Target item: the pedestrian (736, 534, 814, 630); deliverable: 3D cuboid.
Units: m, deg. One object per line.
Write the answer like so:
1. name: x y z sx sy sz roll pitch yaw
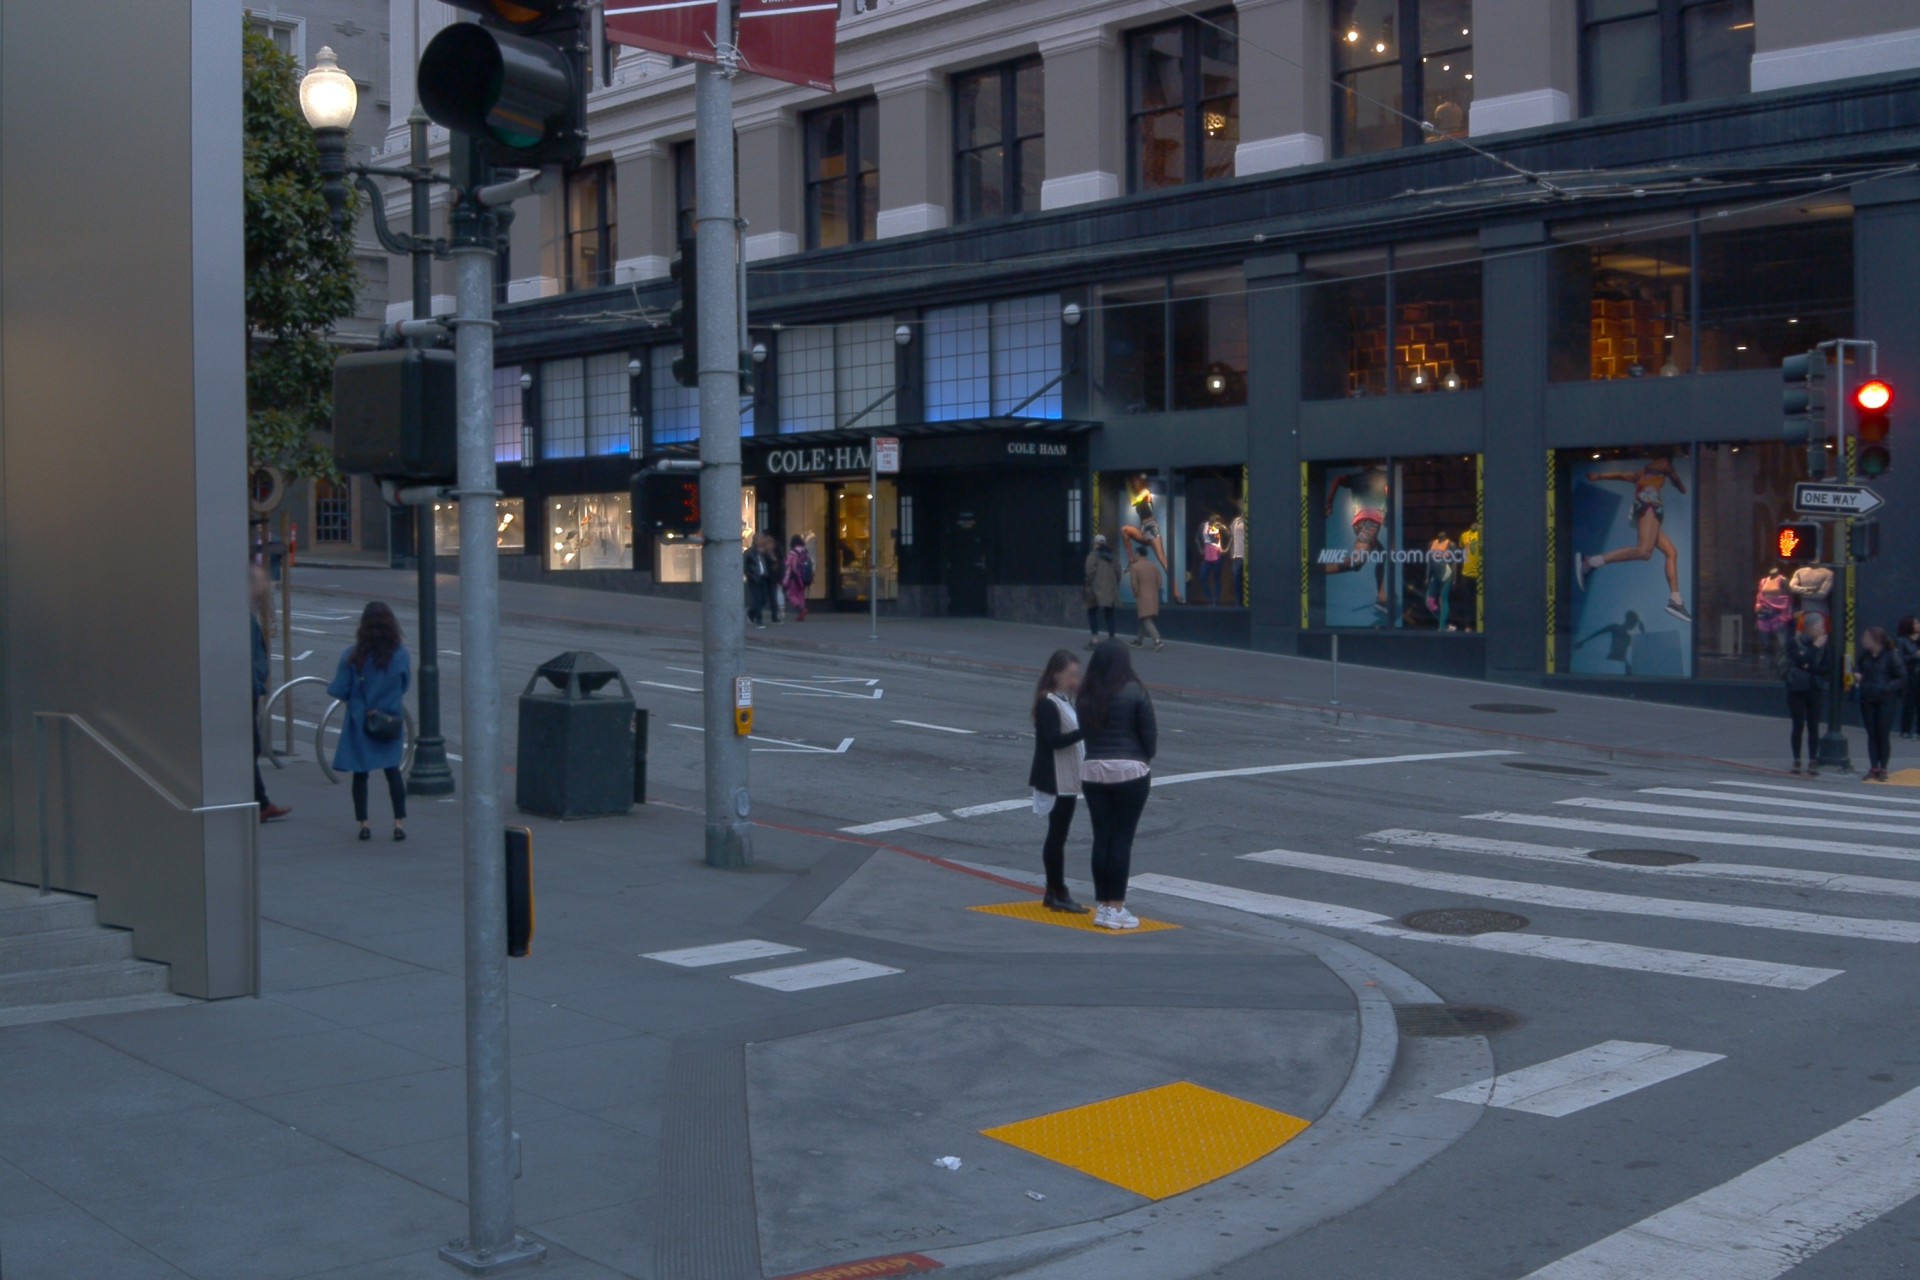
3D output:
1. pedestrian: -3.236 -1.007 35.855 1.047 1.650 0.891 1 1 45

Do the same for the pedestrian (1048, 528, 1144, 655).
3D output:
1. pedestrian: 2.100 -0.745 31.615 0.963 1.920 1.104 0 1 -42

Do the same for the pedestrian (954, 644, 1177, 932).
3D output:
1. pedestrian: 0.670 0.894 13.059 1.003 1.710 0.997 -1 1 -45

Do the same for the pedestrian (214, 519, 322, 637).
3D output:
1. pedestrian: -10.640 -0.942 31.542 1.095 1.780 1.342 0 1 7

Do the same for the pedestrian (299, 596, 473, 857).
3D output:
1. pedestrian: -4.015 0.569 14.325 0.951 1.750 0.801 0 1 -37

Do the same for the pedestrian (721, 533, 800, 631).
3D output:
1. pedestrian: -3.436 -0.985 35.300 1.047 1.650 0.891 1 1 45

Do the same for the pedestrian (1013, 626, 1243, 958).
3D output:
1. pedestrian: 1.011 0.867 12.354 1.113 1.890 0.813 0 1 -33

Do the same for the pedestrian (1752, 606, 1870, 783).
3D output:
1. pedestrian: 8.945 0.544 21.527 0.895 1.800 1.088 1 1 36

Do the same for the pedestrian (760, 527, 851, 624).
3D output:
1. pedestrian: -2.764 -1.139 36.583 1.127 1.690 1.183 0 1 -41

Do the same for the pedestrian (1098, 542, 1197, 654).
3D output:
1. pedestrian: 2.912 -0.651 31.904 1.053 1.700 1.109 0 1 -41

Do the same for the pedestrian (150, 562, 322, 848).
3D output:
1. pedestrian: -5.204 0.435 14.715 0.939 1.960 0.981 0 1 -35
